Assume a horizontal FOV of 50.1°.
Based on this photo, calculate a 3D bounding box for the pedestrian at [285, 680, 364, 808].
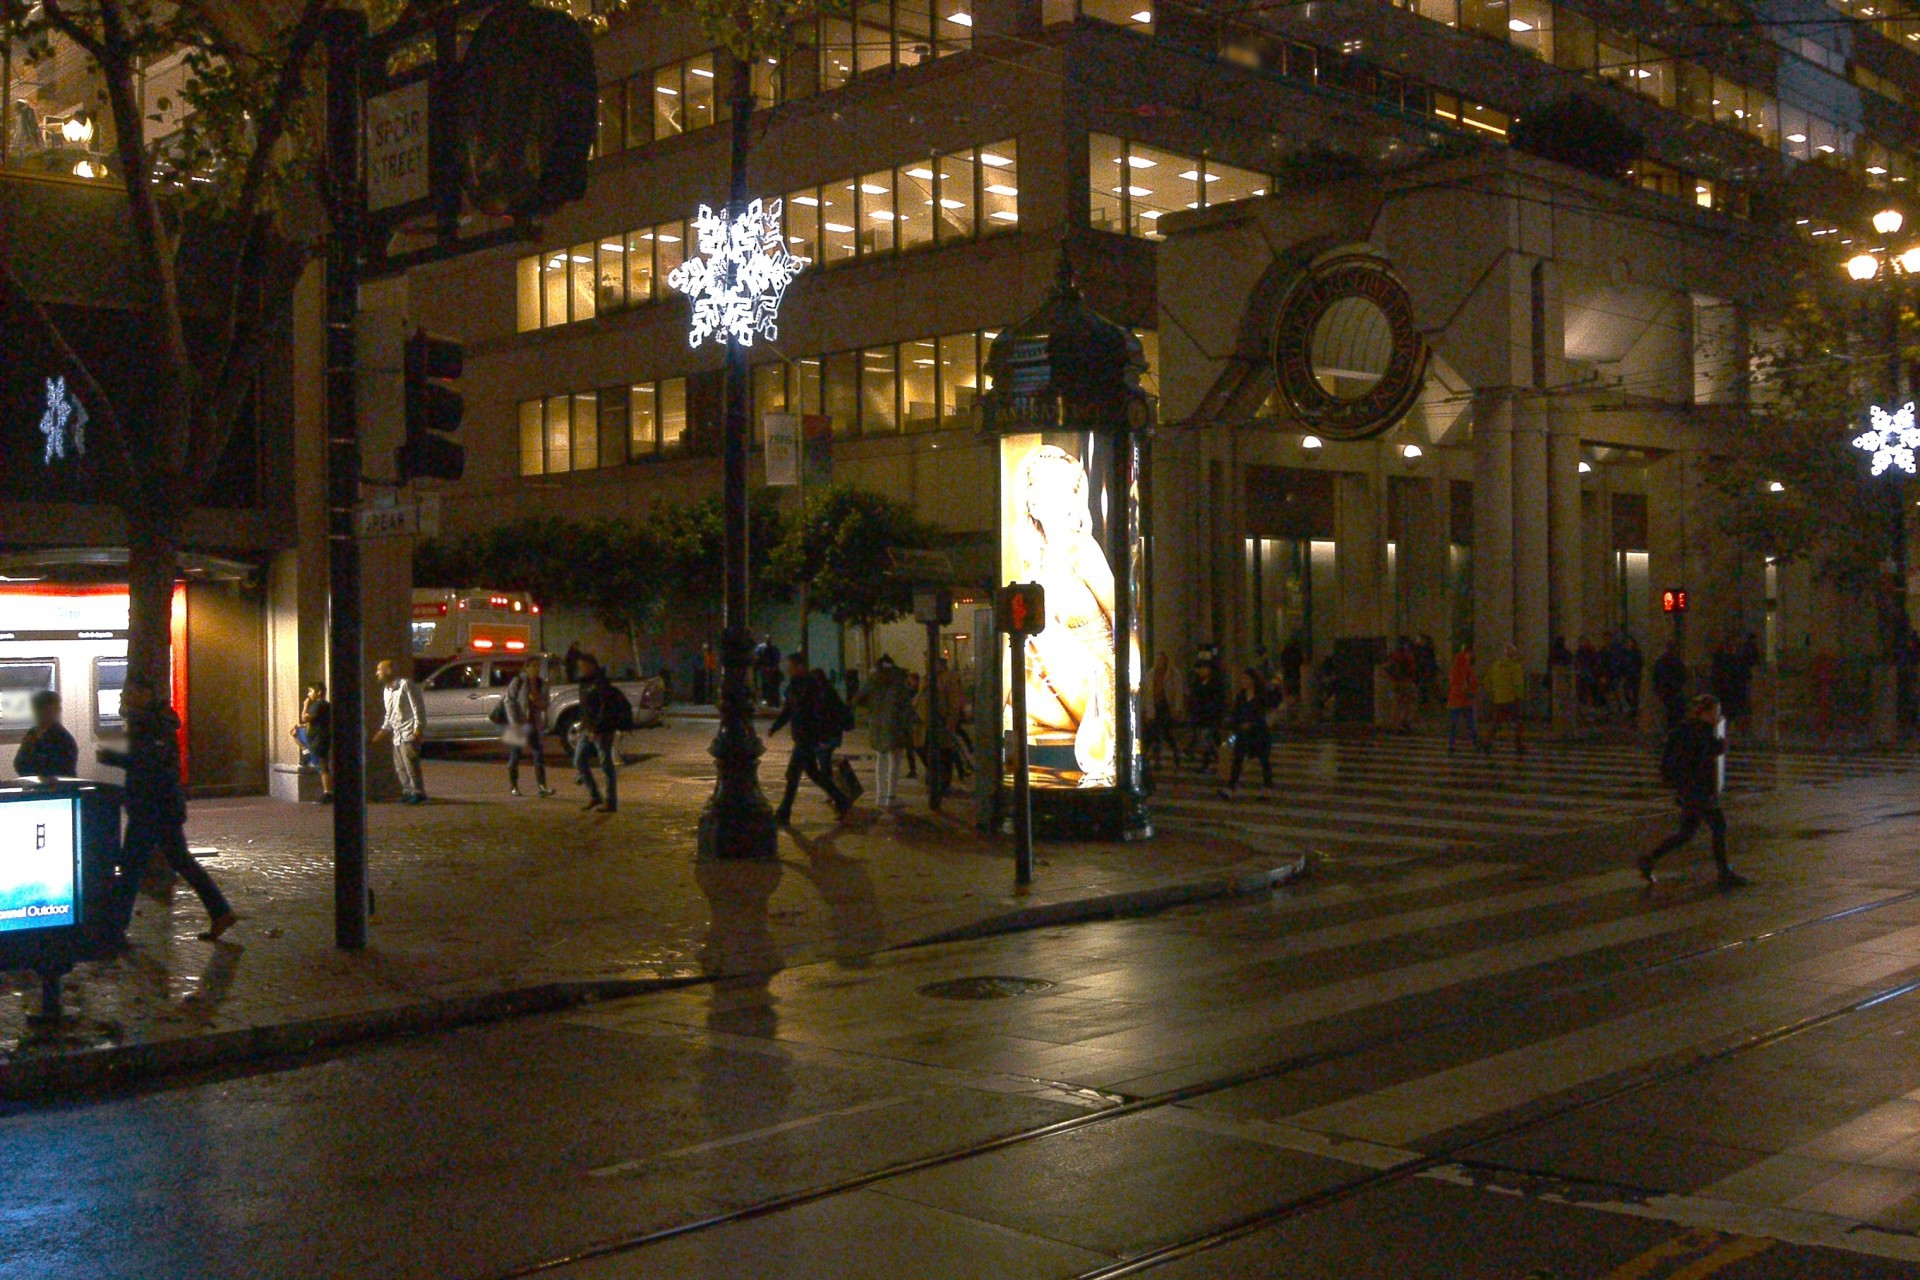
[{"bbox_3d":[-6.997,1.134,22.614,0.636,1.350,0.644,-1,1,-40],"label":"pedestrian"}]

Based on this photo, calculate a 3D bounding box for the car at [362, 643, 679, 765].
[{"bbox_3d":[-7.355,1.051,34.744,4.910,1.960,1.934,0,1,0],"label":"car"}]

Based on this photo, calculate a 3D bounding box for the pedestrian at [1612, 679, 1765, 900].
[{"bbox_3d":[5.943,1.177,16.734,1.049,1.670,1.133,0,1,25],"label":"pedestrian"}]

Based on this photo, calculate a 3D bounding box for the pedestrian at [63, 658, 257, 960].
[{"bbox_3d":[-5.328,1.083,13.681,1.021,1.890,0.783,-1,1,-38],"label":"pedestrian"}]

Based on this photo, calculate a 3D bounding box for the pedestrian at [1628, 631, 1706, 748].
[{"bbox_3d":[11.703,0.803,33.994,1.066,1.880,0.763,-1,1,-38],"label":"pedestrian"}]

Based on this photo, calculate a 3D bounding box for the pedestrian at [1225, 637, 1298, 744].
[{"bbox_3d":[5.353,0.878,36.494,1.064,1.850,0.753,-1,1,-39],"label":"pedestrian"}]

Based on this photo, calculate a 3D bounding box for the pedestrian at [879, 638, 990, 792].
[{"bbox_3d":[-0.328,0.935,26.410,0.963,1.900,1.058,1,1,42],"label":"pedestrian"}]

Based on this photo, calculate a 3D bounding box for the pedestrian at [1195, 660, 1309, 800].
[{"bbox_3d":[3.548,1.076,24.964,1.084,1.620,0.886,-1,1,-42],"label":"pedestrian"}]

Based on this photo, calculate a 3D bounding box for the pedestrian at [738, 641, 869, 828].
[{"bbox_3d":[-1.619,0.951,21.198,1.158,1.850,0.839,0,1,-21],"label":"pedestrian"}]

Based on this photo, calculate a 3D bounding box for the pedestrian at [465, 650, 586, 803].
[{"bbox_3d":[-5.071,0.983,23.954,0.977,1.700,1.115,-1,1,-39],"label":"pedestrian"}]

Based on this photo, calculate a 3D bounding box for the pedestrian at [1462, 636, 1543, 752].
[{"bbox_3d":[8.579,0.832,32.499,1.045,1.780,0.780,-1,1,-42],"label":"pedestrian"}]

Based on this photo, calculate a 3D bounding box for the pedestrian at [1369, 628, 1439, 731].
[{"bbox_3d":[8.162,0.712,37.771,1.041,1.860,0.795,-1,1,-43],"label":"pedestrian"}]

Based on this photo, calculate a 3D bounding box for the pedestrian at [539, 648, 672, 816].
[{"bbox_3d":[-3.841,0.971,22.284,1.147,1.730,0.838,-1,1,-44],"label":"pedestrian"}]

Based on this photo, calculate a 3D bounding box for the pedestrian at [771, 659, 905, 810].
[{"bbox_3d":[-1.502,1.136,25.349,1.035,1.770,1.284,1,1,41],"label":"pedestrian"}]

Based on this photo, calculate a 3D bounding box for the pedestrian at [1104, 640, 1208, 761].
[{"bbox_3d":[2.834,0.856,29.719,1.025,1.680,1.080,-1,1,-44],"label":"pedestrian"}]

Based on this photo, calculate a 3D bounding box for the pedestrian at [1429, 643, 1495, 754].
[{"bbox_3d":[8.067,0.922,32.989,0.934,1.730,0.628,-1,1,-44],"label":"pedestrian"}]

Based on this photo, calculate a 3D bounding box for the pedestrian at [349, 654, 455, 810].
[{"bbox_3d":[-6.152,0.996,22.663,0.880,1.670,0.699,0,1,24],"label":"pedestrian"}]

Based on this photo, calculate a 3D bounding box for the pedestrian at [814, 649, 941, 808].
[{"bbox_3d":[-0.930,0.973,23.258,1.120,1.720,0.908,-1,1,-38],"label":"pedestrian"}]

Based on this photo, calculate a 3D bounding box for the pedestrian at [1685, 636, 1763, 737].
[{"bbox_3d":[13.160,0.780,35.395,1.125,1.690,0.784,-1,1,-38],"label":"pedestrian"}]

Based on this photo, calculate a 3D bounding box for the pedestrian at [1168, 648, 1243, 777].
[{"bbox_3d":[3.472,1.010,29.006,0.725,1.770,0.799,1,1,41],"label":"pedestrian"}]
